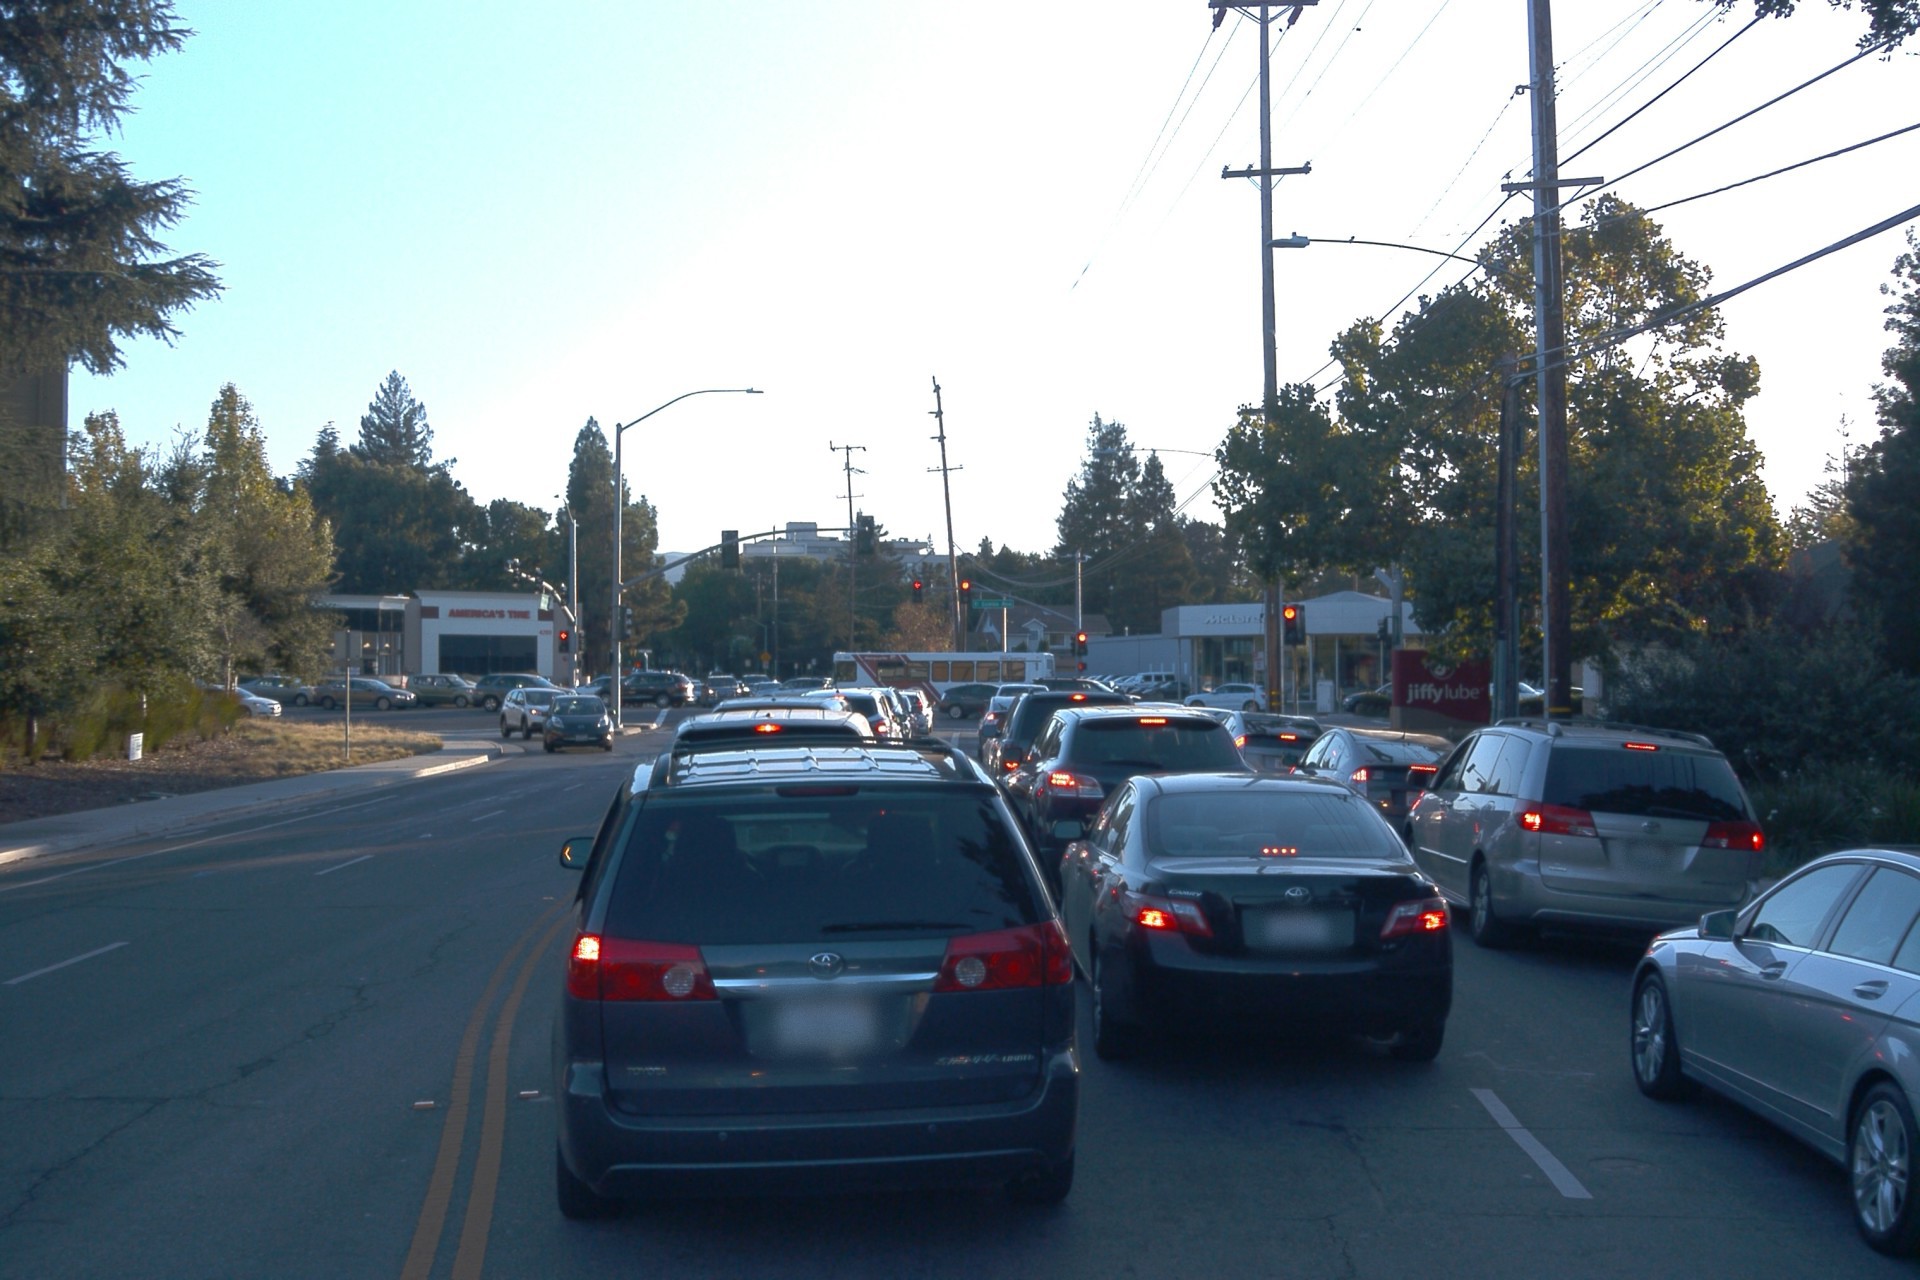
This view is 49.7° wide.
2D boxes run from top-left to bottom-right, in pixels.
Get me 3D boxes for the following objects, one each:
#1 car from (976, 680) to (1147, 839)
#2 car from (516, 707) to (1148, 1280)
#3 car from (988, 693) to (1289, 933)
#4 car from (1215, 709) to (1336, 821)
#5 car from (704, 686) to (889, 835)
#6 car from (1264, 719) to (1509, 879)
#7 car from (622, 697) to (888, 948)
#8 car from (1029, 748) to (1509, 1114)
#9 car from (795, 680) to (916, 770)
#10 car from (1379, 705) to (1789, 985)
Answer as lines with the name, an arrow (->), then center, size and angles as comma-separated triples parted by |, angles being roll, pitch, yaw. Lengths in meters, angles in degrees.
car -> 1.186, 1.415, 25.823 | 1.759, 1.770, 3.957 | 0, 0, -3
car -> -0.822, 1.302, 9.578 | 2.102, 1.830, 5.461 | 0, 0, -9
car -> 1.458, 1.437, 18.792 | 1.992, 1.810, 4.553 | 0, 0, -5
car -> 4.670, 1.821, 30.934 | 1.418, 1.490, 3.138 | 0, 0, 2
car -> -1.862, 1.364, 24.681 | 1.760, 1.570, 3.956 | 0, 0, 2
car -> 4.676, 1.708, 23.273 | 1.785, 1.510, 4.026 | 0, 0, -2
car -> -1.469, 1.300, 16.176 | 1.812, 1.620, 4.042 | 0, 0, -2
car -> 1.525, 1.477, 11.956 | 1.915, 1.490, 4.528 | 0, 0, -2
car -> -1.661, 1.353, 33.817 | 1.709, 1.350, 3.337 | 0, 0, 2
car -> 4.903, 1.523, 17.100 | 2.061, 1.850, 4.903 | 0, 0, 2
